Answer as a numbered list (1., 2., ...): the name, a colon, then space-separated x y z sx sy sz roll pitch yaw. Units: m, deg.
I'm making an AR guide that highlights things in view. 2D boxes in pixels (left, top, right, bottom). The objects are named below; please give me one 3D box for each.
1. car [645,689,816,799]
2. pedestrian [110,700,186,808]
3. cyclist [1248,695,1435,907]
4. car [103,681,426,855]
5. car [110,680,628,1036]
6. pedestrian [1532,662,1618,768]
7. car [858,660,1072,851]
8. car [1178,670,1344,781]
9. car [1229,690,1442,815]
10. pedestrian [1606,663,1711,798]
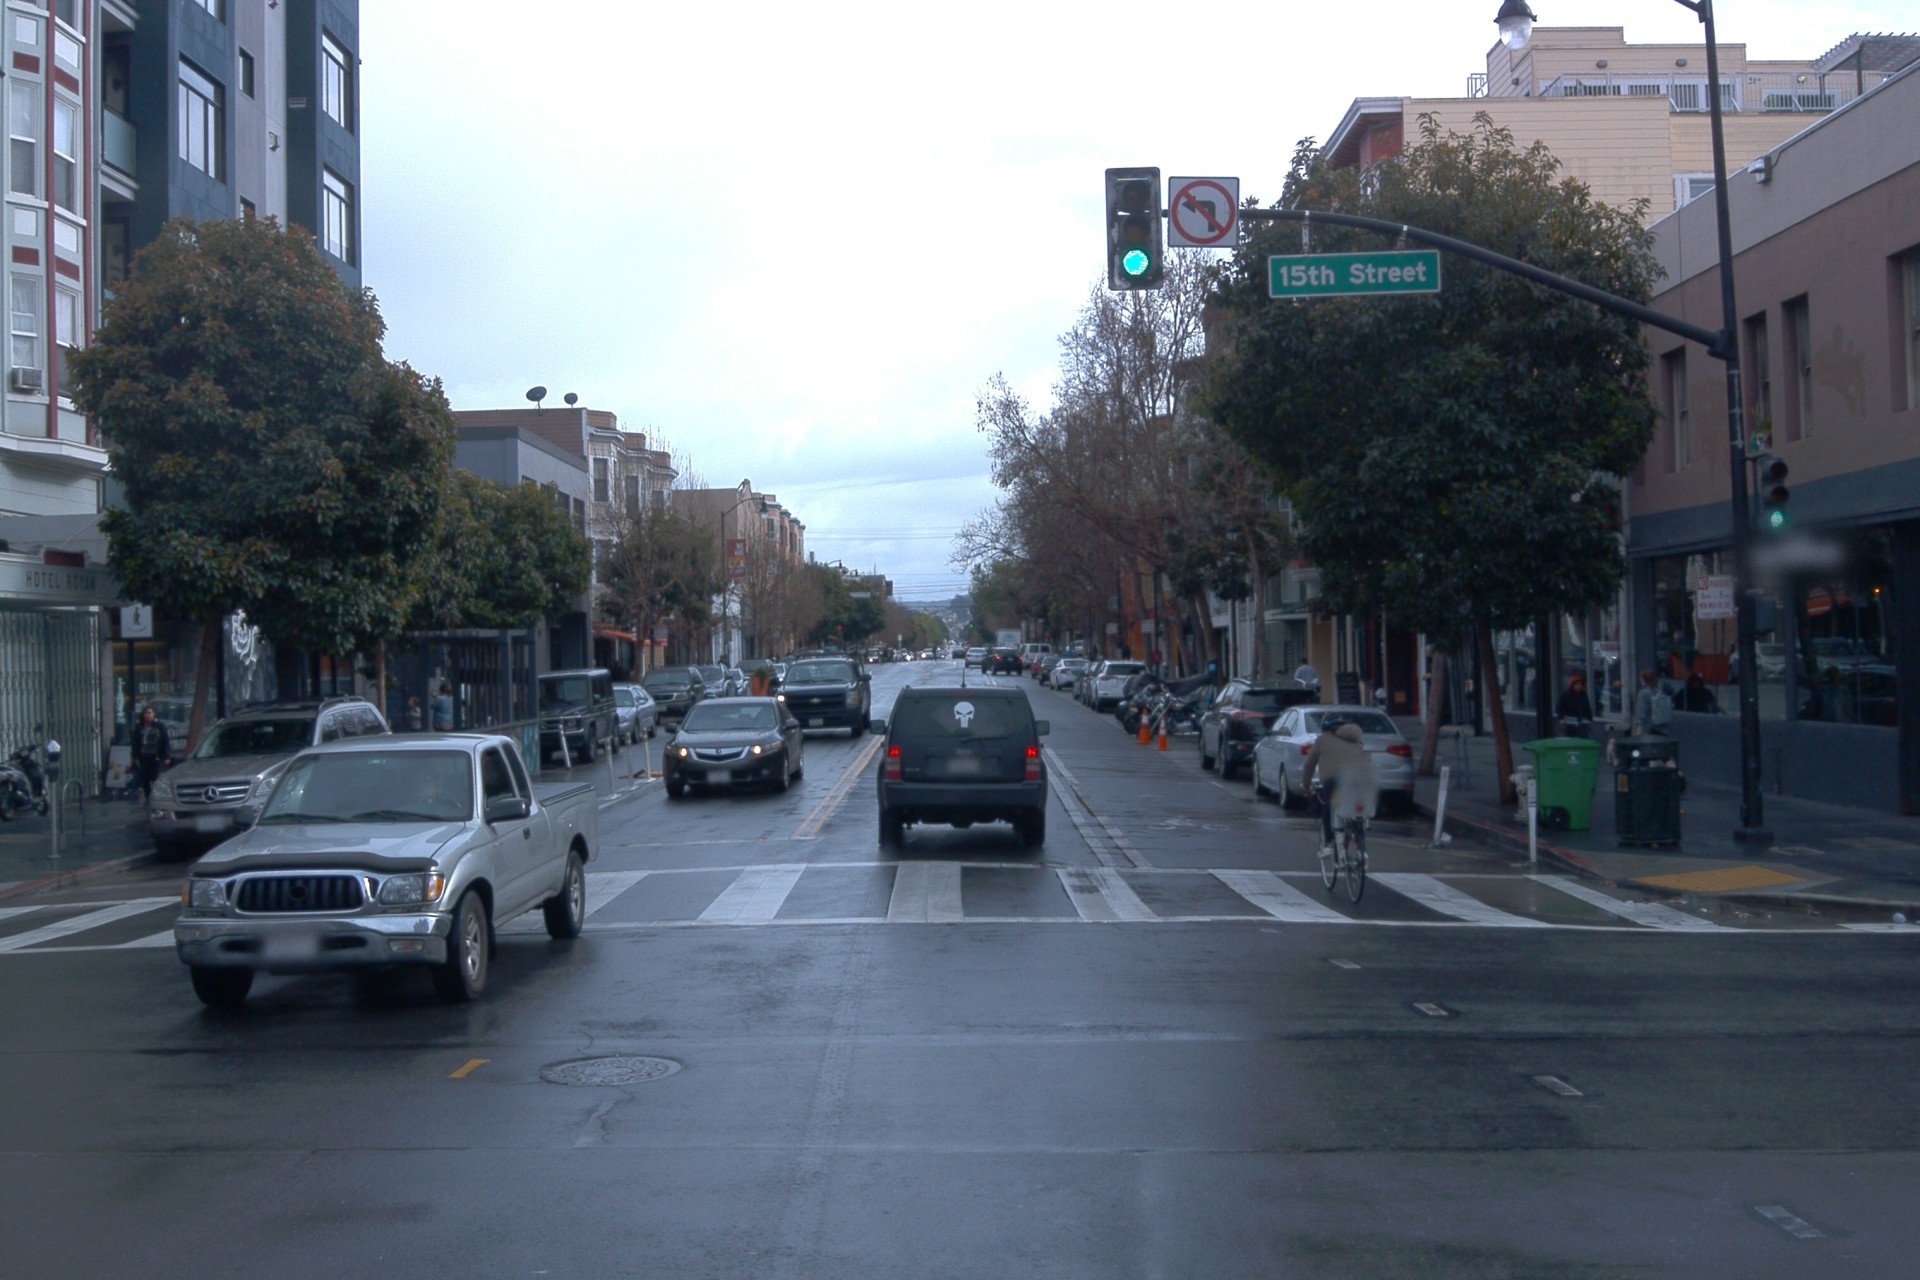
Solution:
1. car: -3.527 1.576 32.273 2.084 1.460 4.508 1 0 1
2. pedestrian: -12.551 1.749 31.624 0.851 1.620 0.817 0 0 -2
3. cyclist: 3.352 1.386 18.217 1.265 1.710 2.011 1 0 0
4. car: -8.901 1.558 26.785 2.242 1.870 5.560 1 0 1
5. car: -3.708 1.259 13.963 1.970 1.830 5.201 1 0 1
6. pedestrian: 9.798 1.188 32.628 1.007 1.650 0.988 0 0 -5
7. car: 0.038 1.210 23.298 2.194 1.885 4.386 1 0 0
8. car: 5.171 1.427 35.793 2.093 1.710 4.640 0 0 -1
9. car: 5.284 1.548 29.441 2.078 1.490 4.719 0 0 -1
10. pedestrian: 9.573 1.228 28.040 0.995 1.800 0.927 0 0 -15
